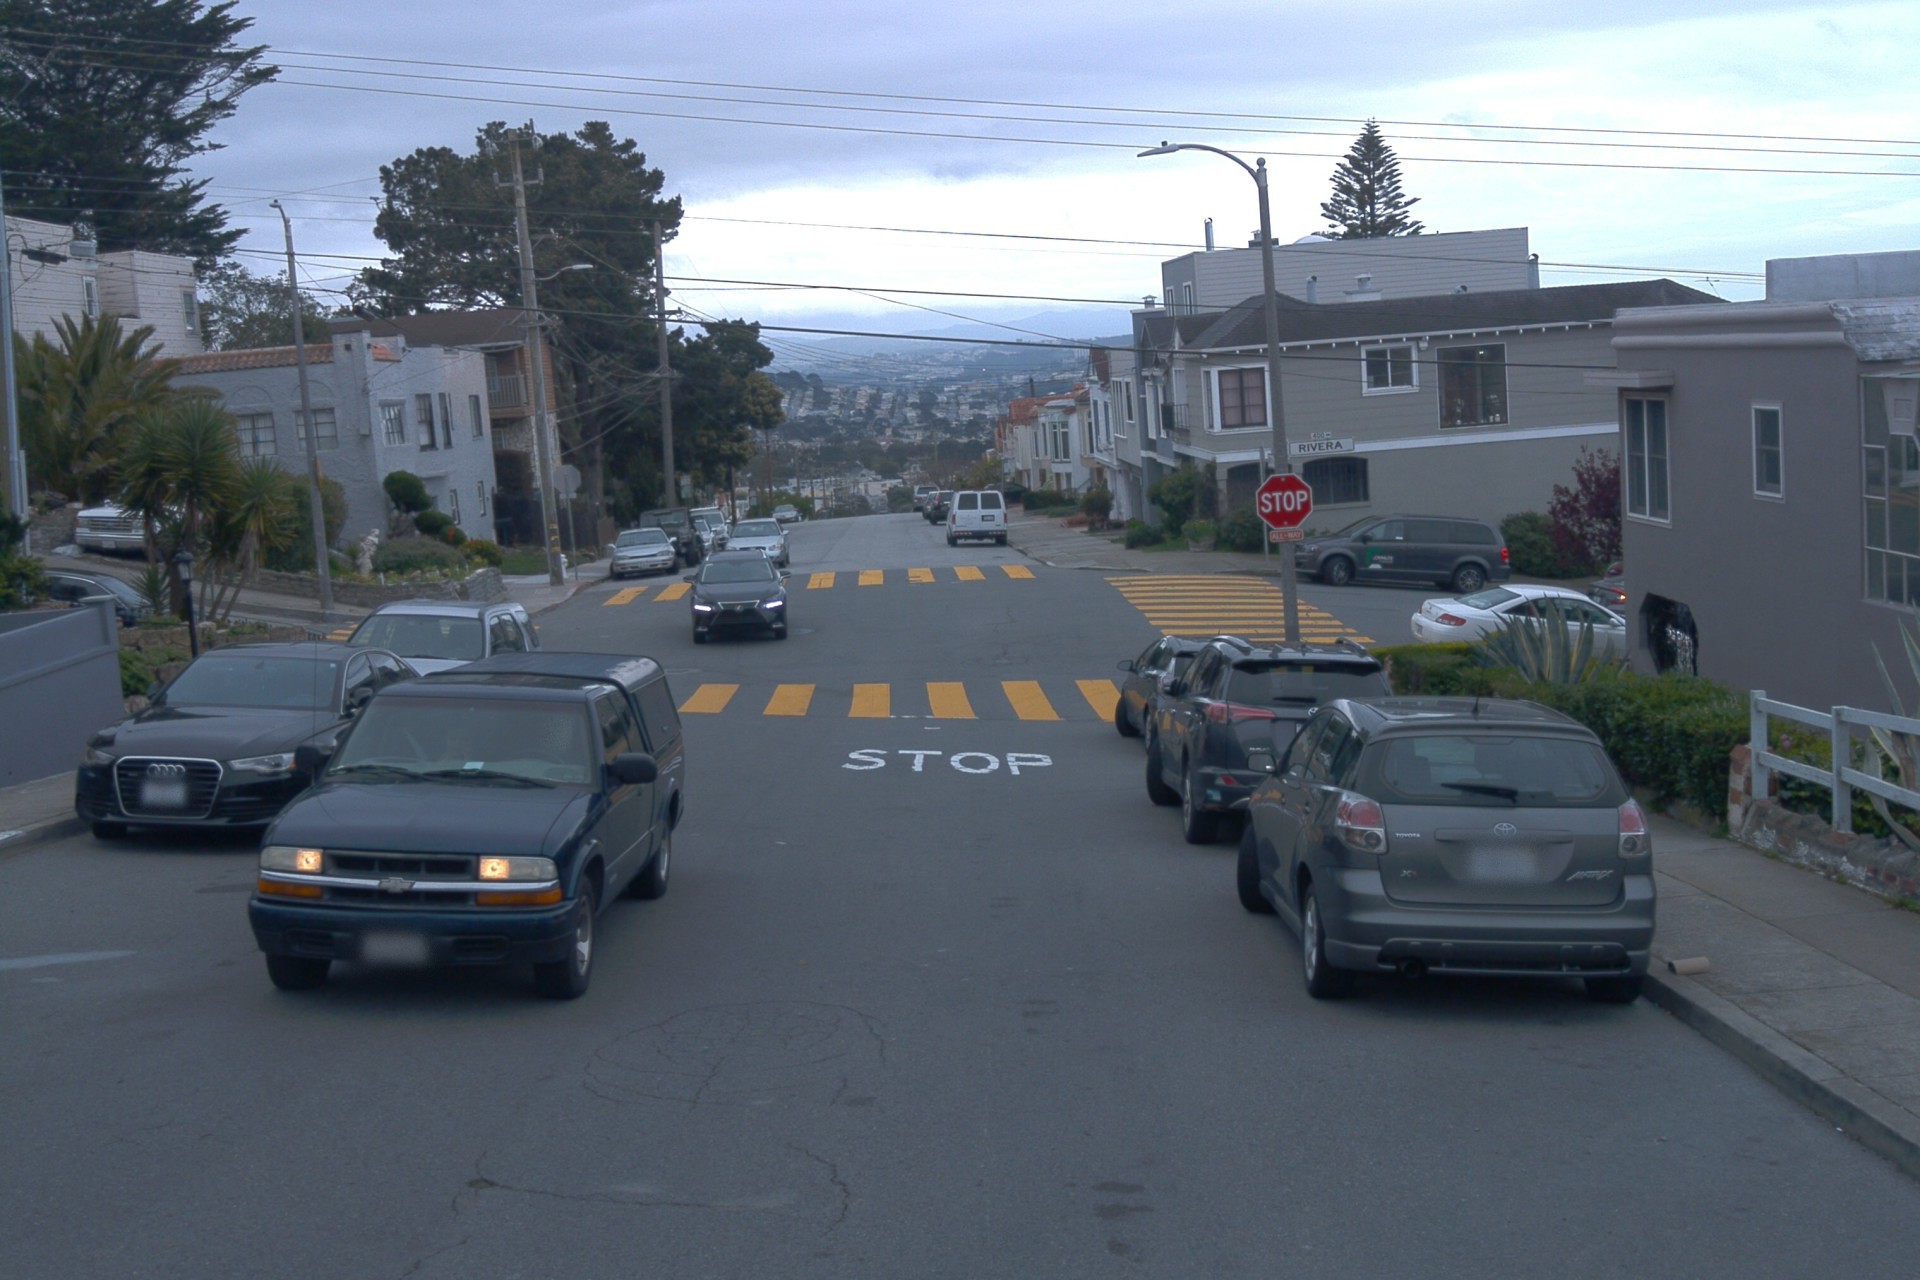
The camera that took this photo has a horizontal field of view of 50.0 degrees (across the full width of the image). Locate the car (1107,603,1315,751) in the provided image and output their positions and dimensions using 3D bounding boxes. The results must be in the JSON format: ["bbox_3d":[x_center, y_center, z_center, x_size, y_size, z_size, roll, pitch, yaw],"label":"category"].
[{"bbox_3d":[3.099,0.437,26.282,1.975,1.730,4.116,0,0,-3],"label":"car"}]

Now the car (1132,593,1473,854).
[{"bbox_3d":[2.821,0.639,18.185,2.279,1.990,4.876,0,0,1],"label":"car"}]

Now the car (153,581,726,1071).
[{"bbox_3d":[-2.730,0.872,12.238,2.161,2.290,5.152,0,0,-1],"label":"car"}]

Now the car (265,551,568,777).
[{"bbox_3d":[-5.717,0.234,22.297,2.021,2.199,4.545,0,0,1],"label":"car"}]

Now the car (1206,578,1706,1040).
[{"bbox_3d":[2.673,0.816,12.255,2.100,2.230,4.505,0,0,3],"label":"car"}]

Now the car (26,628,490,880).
[{"bbox_3d":[-5.584,0.810,17.213,2.006,1.790,5.038,0,0,2],"label":"car"}]

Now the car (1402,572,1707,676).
[{"bbox_3d":[10.117,-0.261,35.261,4.624,1.720,1.981,0,0,-6],"label":"car"}]
